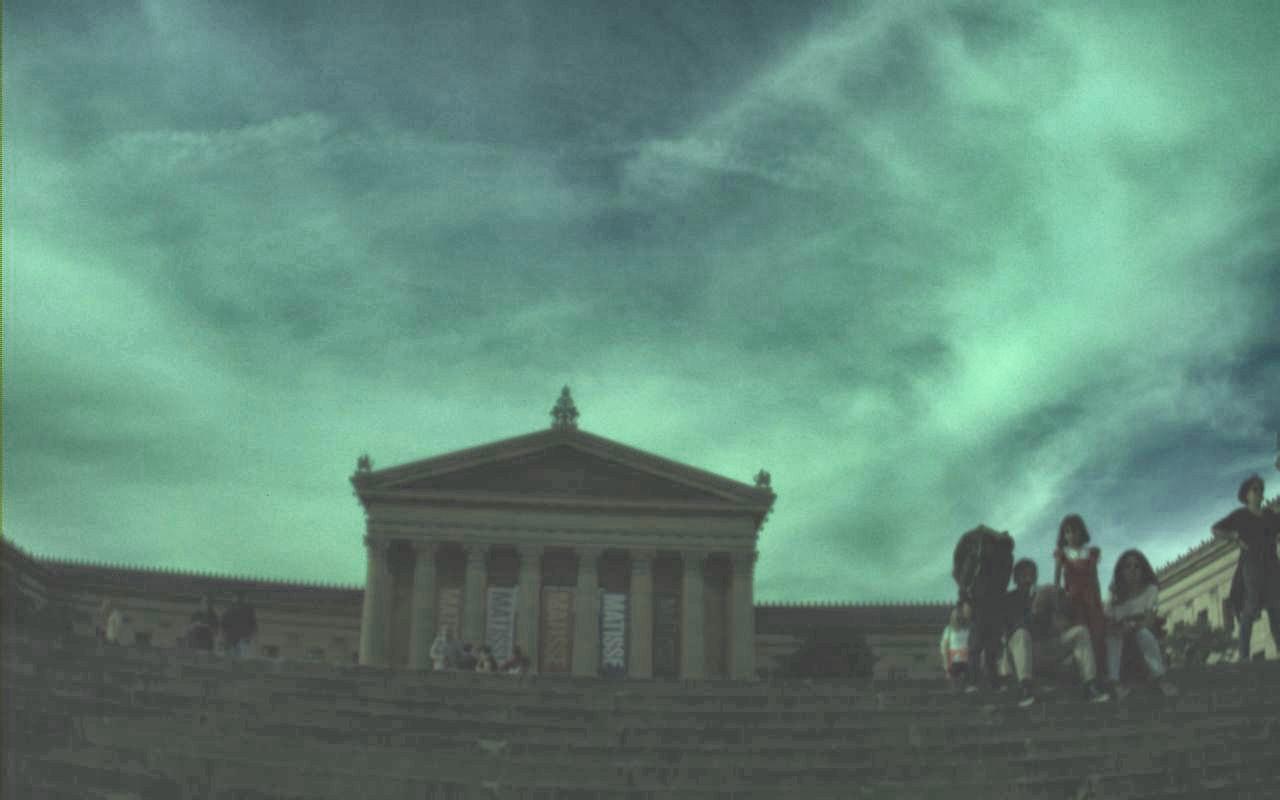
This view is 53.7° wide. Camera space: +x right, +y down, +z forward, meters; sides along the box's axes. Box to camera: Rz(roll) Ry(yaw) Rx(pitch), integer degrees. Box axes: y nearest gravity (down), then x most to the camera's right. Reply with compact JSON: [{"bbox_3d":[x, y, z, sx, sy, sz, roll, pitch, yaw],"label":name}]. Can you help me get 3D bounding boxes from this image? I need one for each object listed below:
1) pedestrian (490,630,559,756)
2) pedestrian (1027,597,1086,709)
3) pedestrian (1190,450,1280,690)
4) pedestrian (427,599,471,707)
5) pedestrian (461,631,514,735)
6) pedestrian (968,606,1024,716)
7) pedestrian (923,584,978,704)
[{"bbox_3d":[-1.716,4.378,18.290,0.747,1.726,0.779,1,0,20],"label":"pedestrian"},{"bbox_3d":[7.071,4.331,20.073,0.648,1.793,0.637,0,0,-25],"label":"pedestrian"},{"bbox_3d":[4.999,1.386,9.127,0.767,1.852,0.764,0,0,1],"label":"pedestrian"},{"bbox_3d":[-3.399,4.508,21.708,0.644,1.833,0.625,0,0,-19],"label":"pedestrian"},{"bbox_3d":[-2.781,5.177,22.346,0.772,1.765,0.782,0,0,7],"label":"pedestrian"},{"bbox_3d":[5.931,4.373,19.950,0.622,1.724,0.616,0,0,-37],"label":"pedestrian"},{"bbox_3d":[4.874,3.835,18.963,0.642,1.781,0.668,1,0,28],"label":"pedestrian"}]
